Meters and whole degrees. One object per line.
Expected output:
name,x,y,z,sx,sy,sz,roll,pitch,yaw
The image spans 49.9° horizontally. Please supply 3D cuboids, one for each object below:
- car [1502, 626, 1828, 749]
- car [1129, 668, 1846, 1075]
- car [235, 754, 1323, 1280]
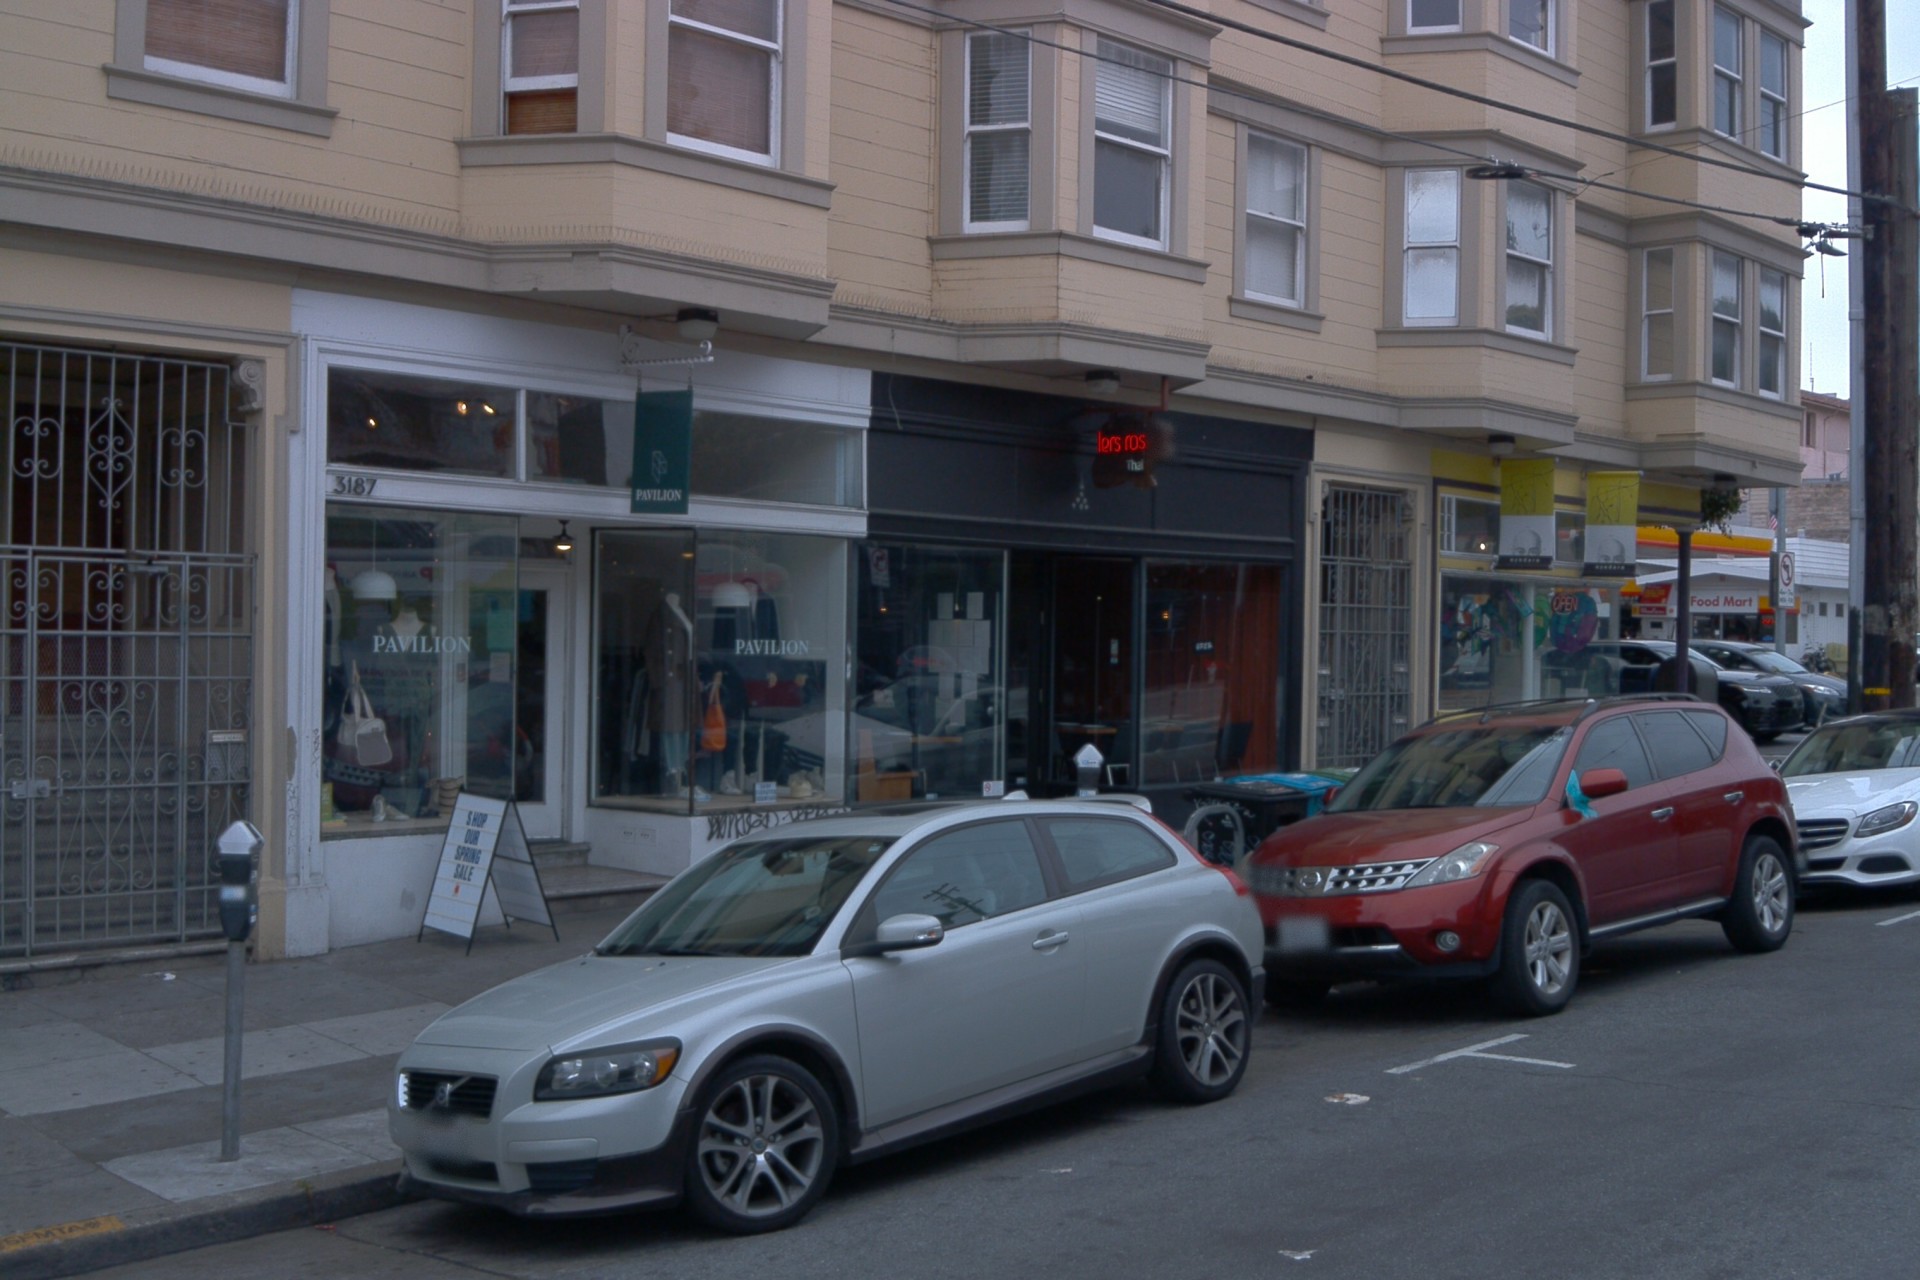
car,11.615,0.718,34.228,2.104,1.830,4.647,-1,1,-44
car,3.395,1.185,12.673,4.743,1.870,2.125,-1,1,-45
car,-0.556,1.444,8.756,2.061,1.590,4.273,1,1,45
